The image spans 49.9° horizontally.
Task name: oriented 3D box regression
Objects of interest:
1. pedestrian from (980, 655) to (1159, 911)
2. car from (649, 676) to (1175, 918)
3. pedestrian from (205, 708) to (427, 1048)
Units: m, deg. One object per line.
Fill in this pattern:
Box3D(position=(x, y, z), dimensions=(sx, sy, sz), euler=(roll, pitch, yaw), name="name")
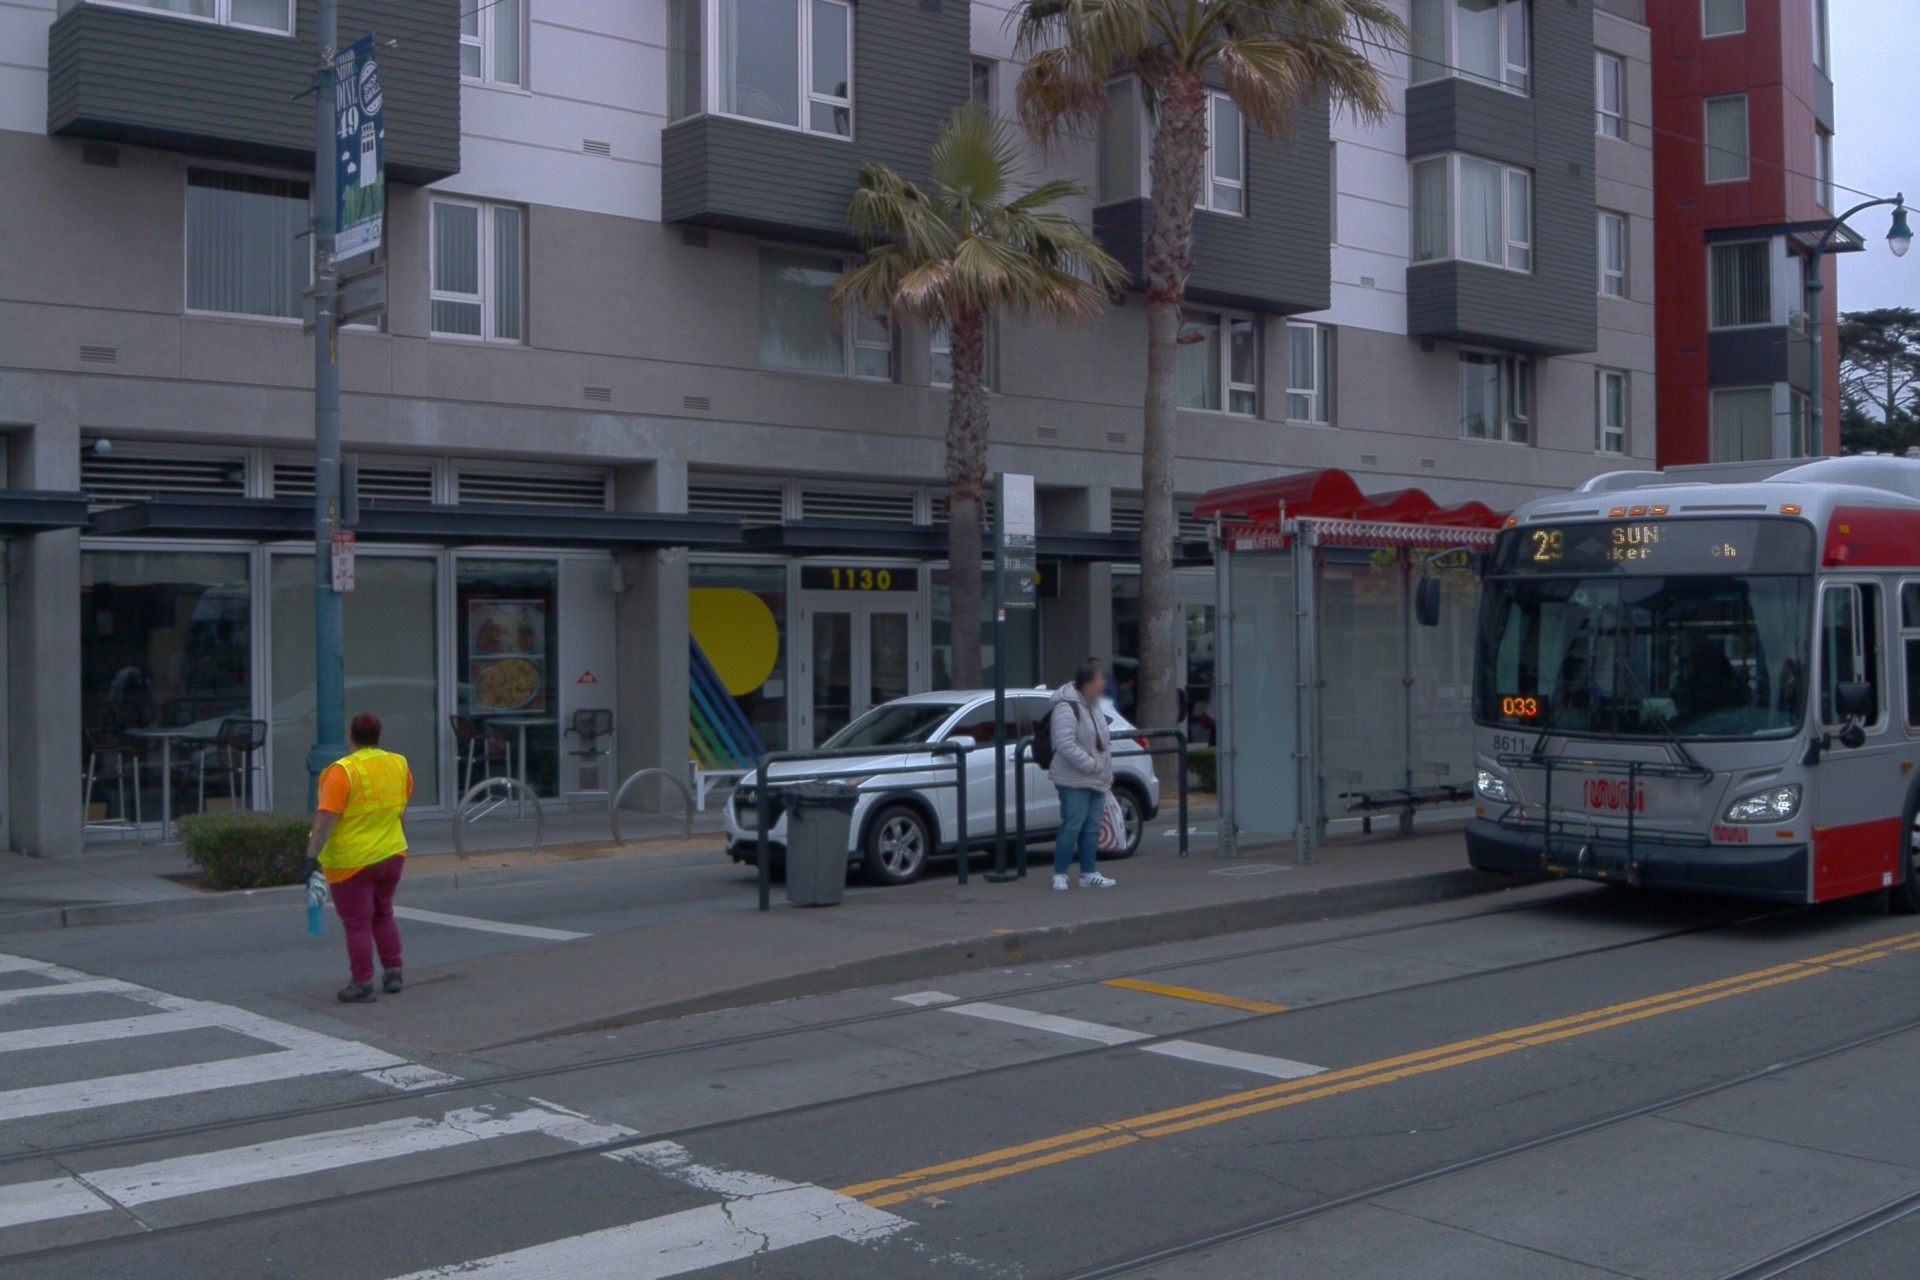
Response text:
Box3D(position=(0.778, 0.970, 14.606), dimensions=(0.856, 1.700, 0.979), euler=(1, 1, 38), name="pedestrian")
Box3D(position=(-0.328, 1.234, 17.904), dimensions=(4.272, 1.680, 2.039), euler=(-1, 1, -42), name="car")
Box3D(position=(-3.494, 1.251, 11.223), dimensions=(0.698, 1.700, 0.901), euler=(1, 1, 39), name="pedestrian")
